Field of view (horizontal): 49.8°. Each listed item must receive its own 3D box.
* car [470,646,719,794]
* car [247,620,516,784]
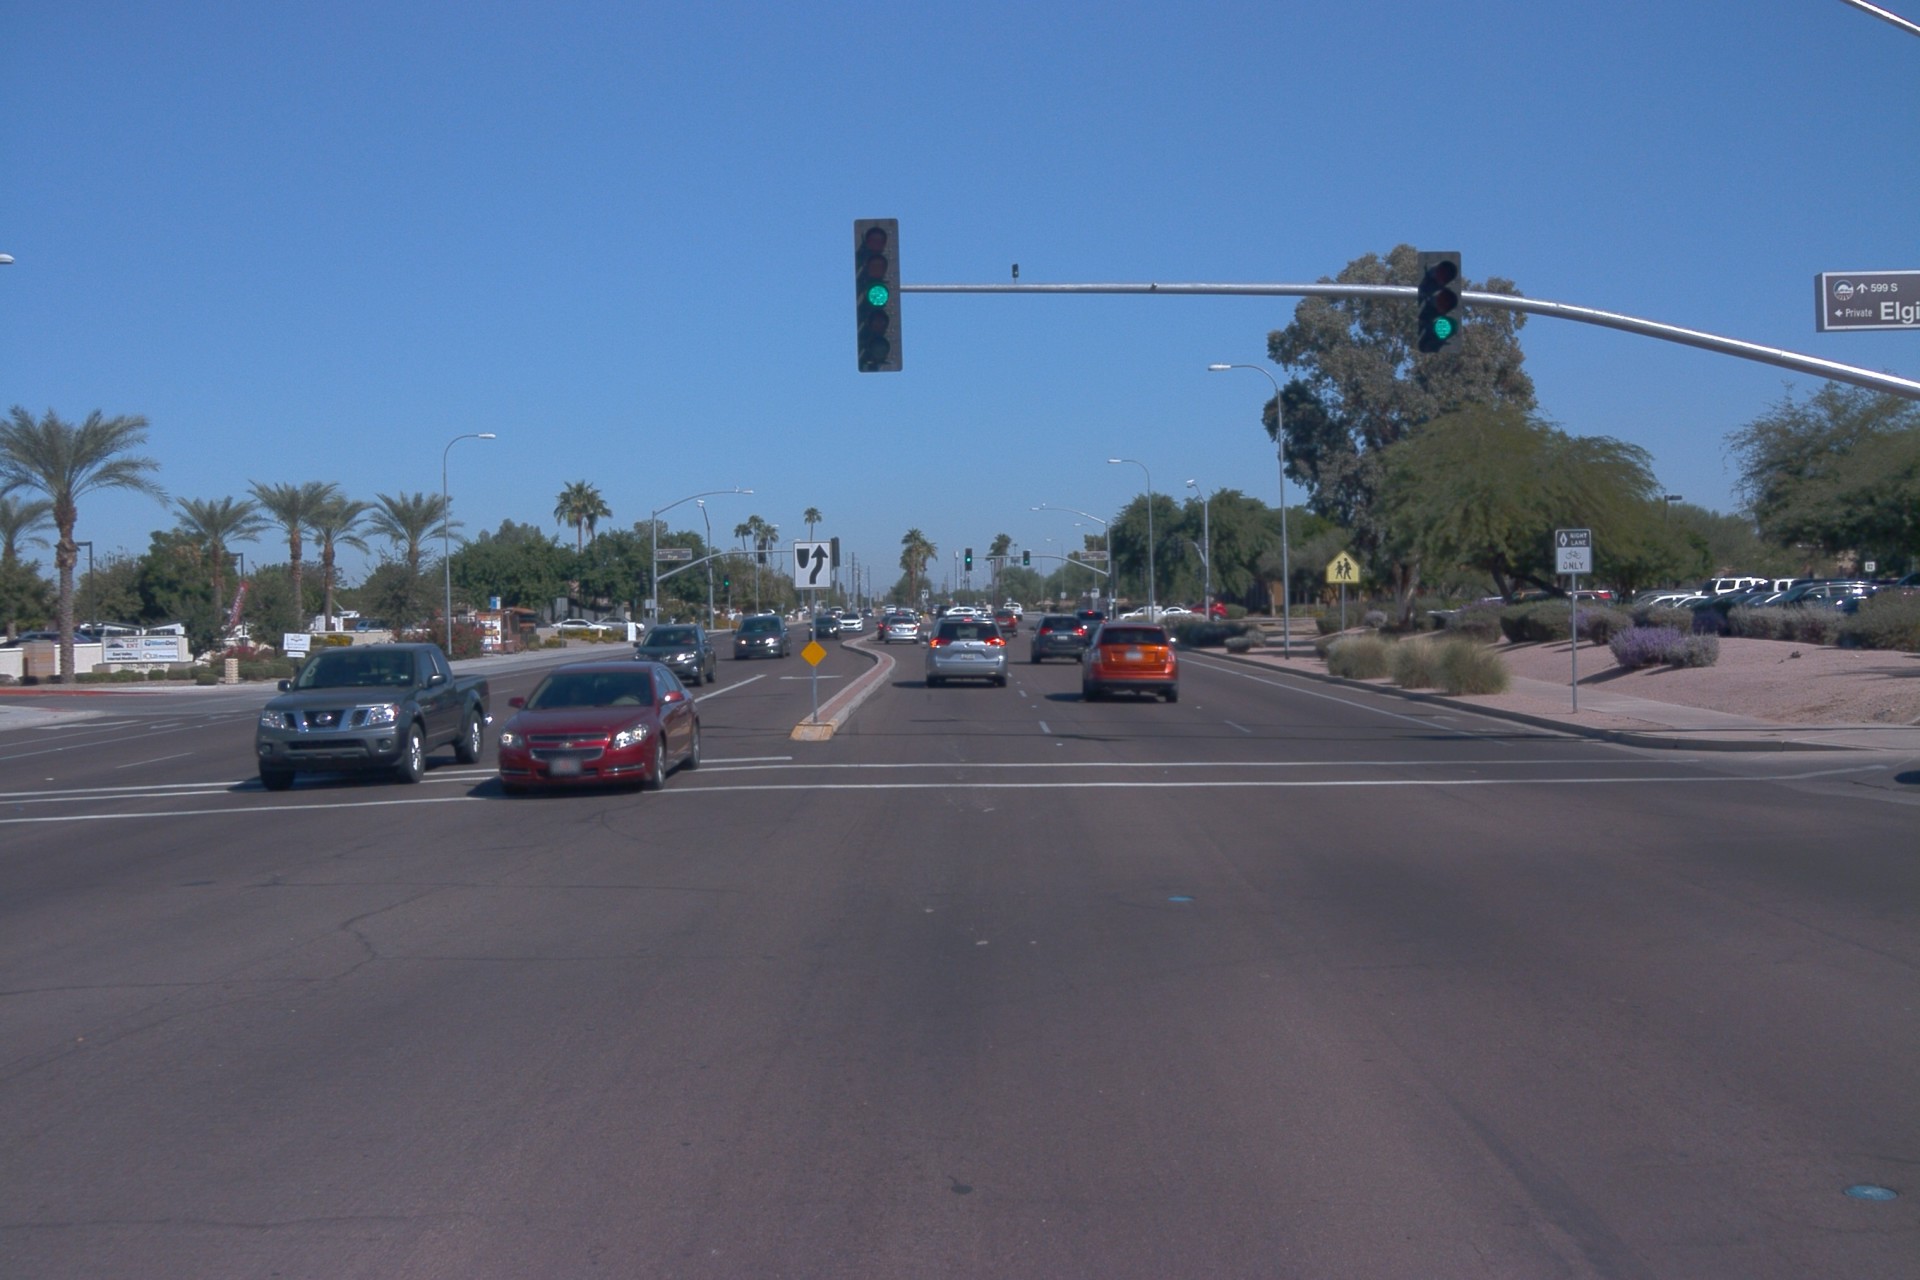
[{"bbox_3d":[-4.211,0.866,24.674,2.128,1.590,4.774,0,0,0],"label":"car"},{"bbox_3d":[-7.574,0.757,27.685,2.174,1.970,5.187,0,0,0],"label":"car"}]
